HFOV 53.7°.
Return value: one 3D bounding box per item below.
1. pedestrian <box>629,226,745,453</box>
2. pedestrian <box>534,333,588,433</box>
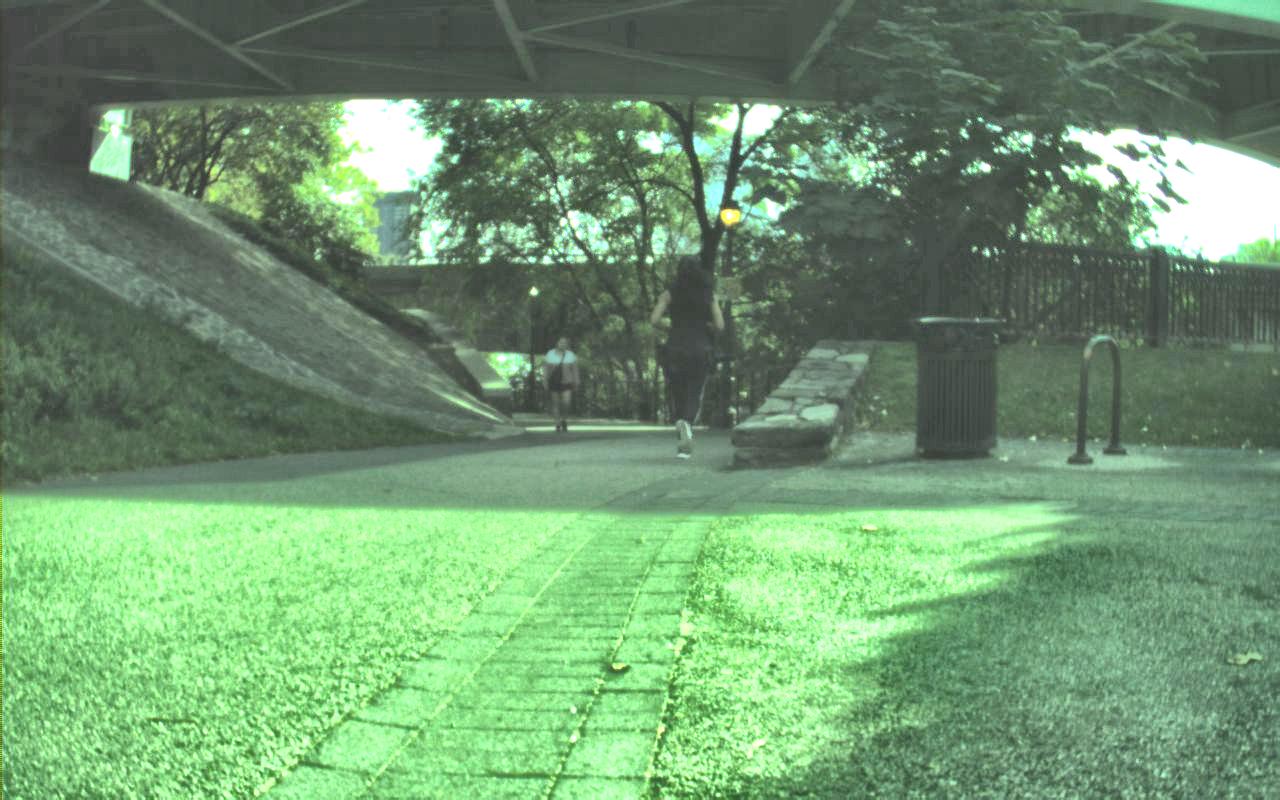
[{"bbox_3d":[0.377,-0.454,9.659,0.761,1.652,0.863,0,0,10],"label":"pedestrian"},{"bbox_3d":[-1.303,-0.285,20.906,0.851,1.629,0.887,0,0,-1],"label":"pedestrian"}]
